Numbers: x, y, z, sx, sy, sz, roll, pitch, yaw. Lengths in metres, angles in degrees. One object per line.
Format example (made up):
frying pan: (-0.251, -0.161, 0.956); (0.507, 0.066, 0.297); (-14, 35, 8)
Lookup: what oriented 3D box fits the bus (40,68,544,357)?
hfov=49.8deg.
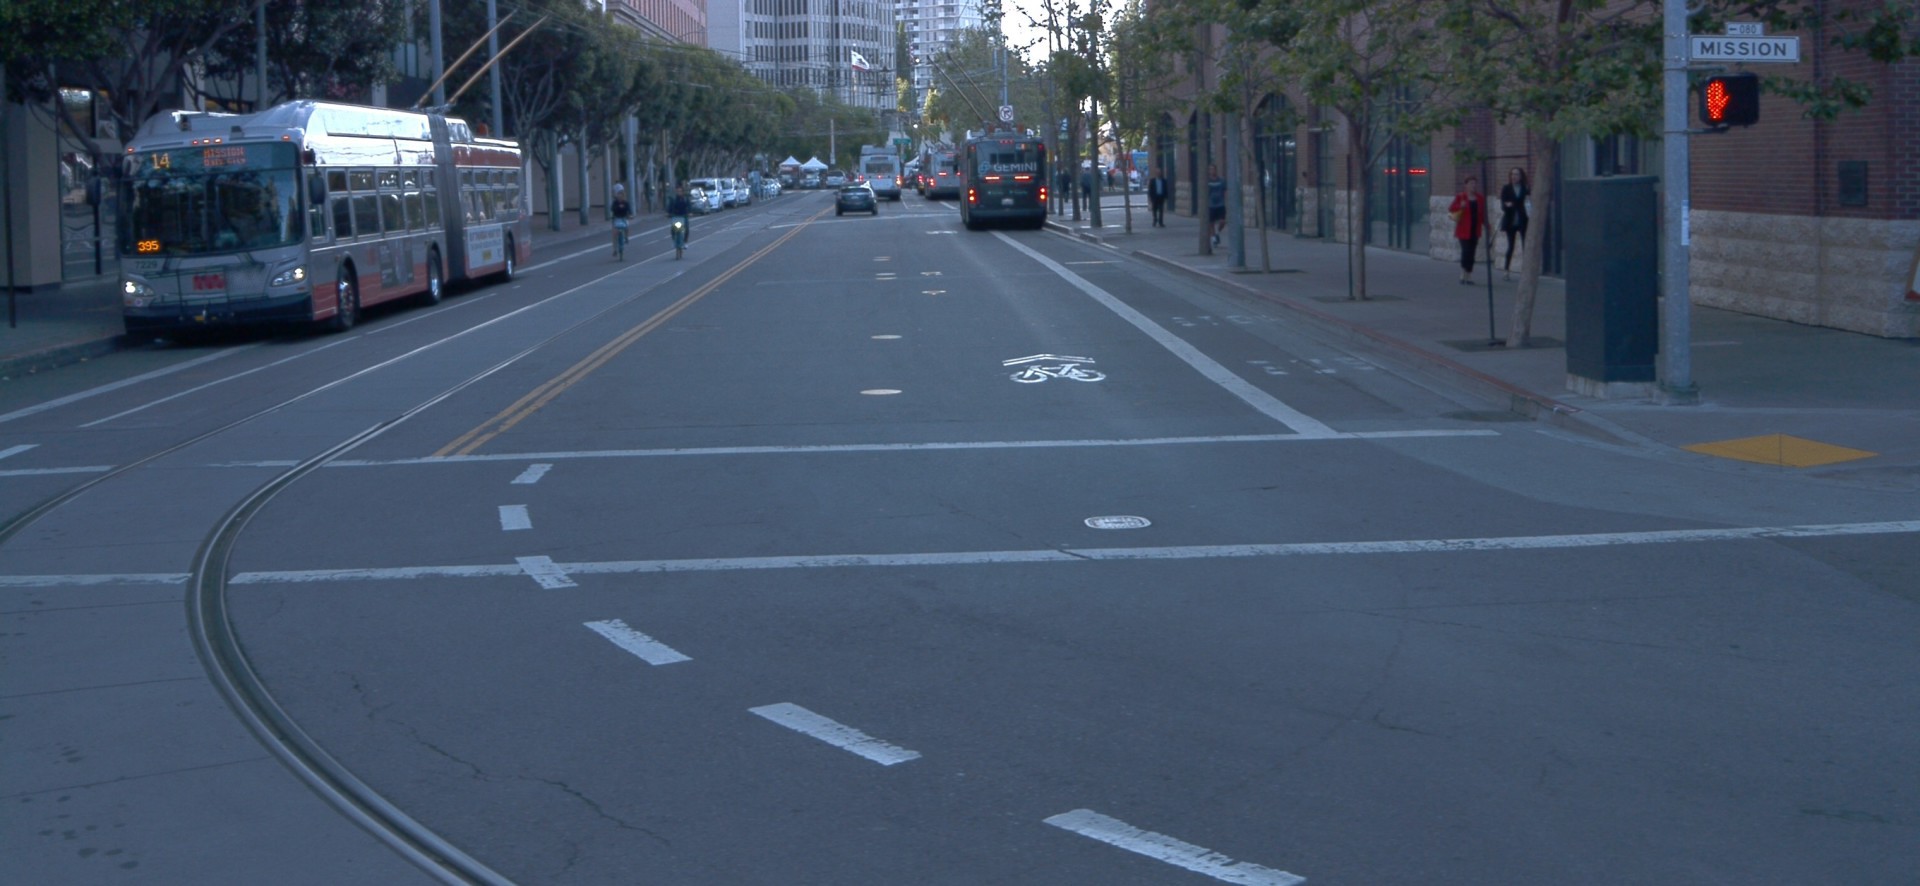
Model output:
bus: (-10.624, -4.092, 36.463); (3.374, 3.731, 19.018); (-1, 6, -2)

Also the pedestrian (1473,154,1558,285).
pedestrian: (8.226, -3.311, 30.622); (0.939, 1.896, 1.002); (-1, 2, -3)

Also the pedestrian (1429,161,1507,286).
pedestrian: (7.466, -3.230, 30.430); (0.818, 1.796, 1.047); (-1, 3, -4)
